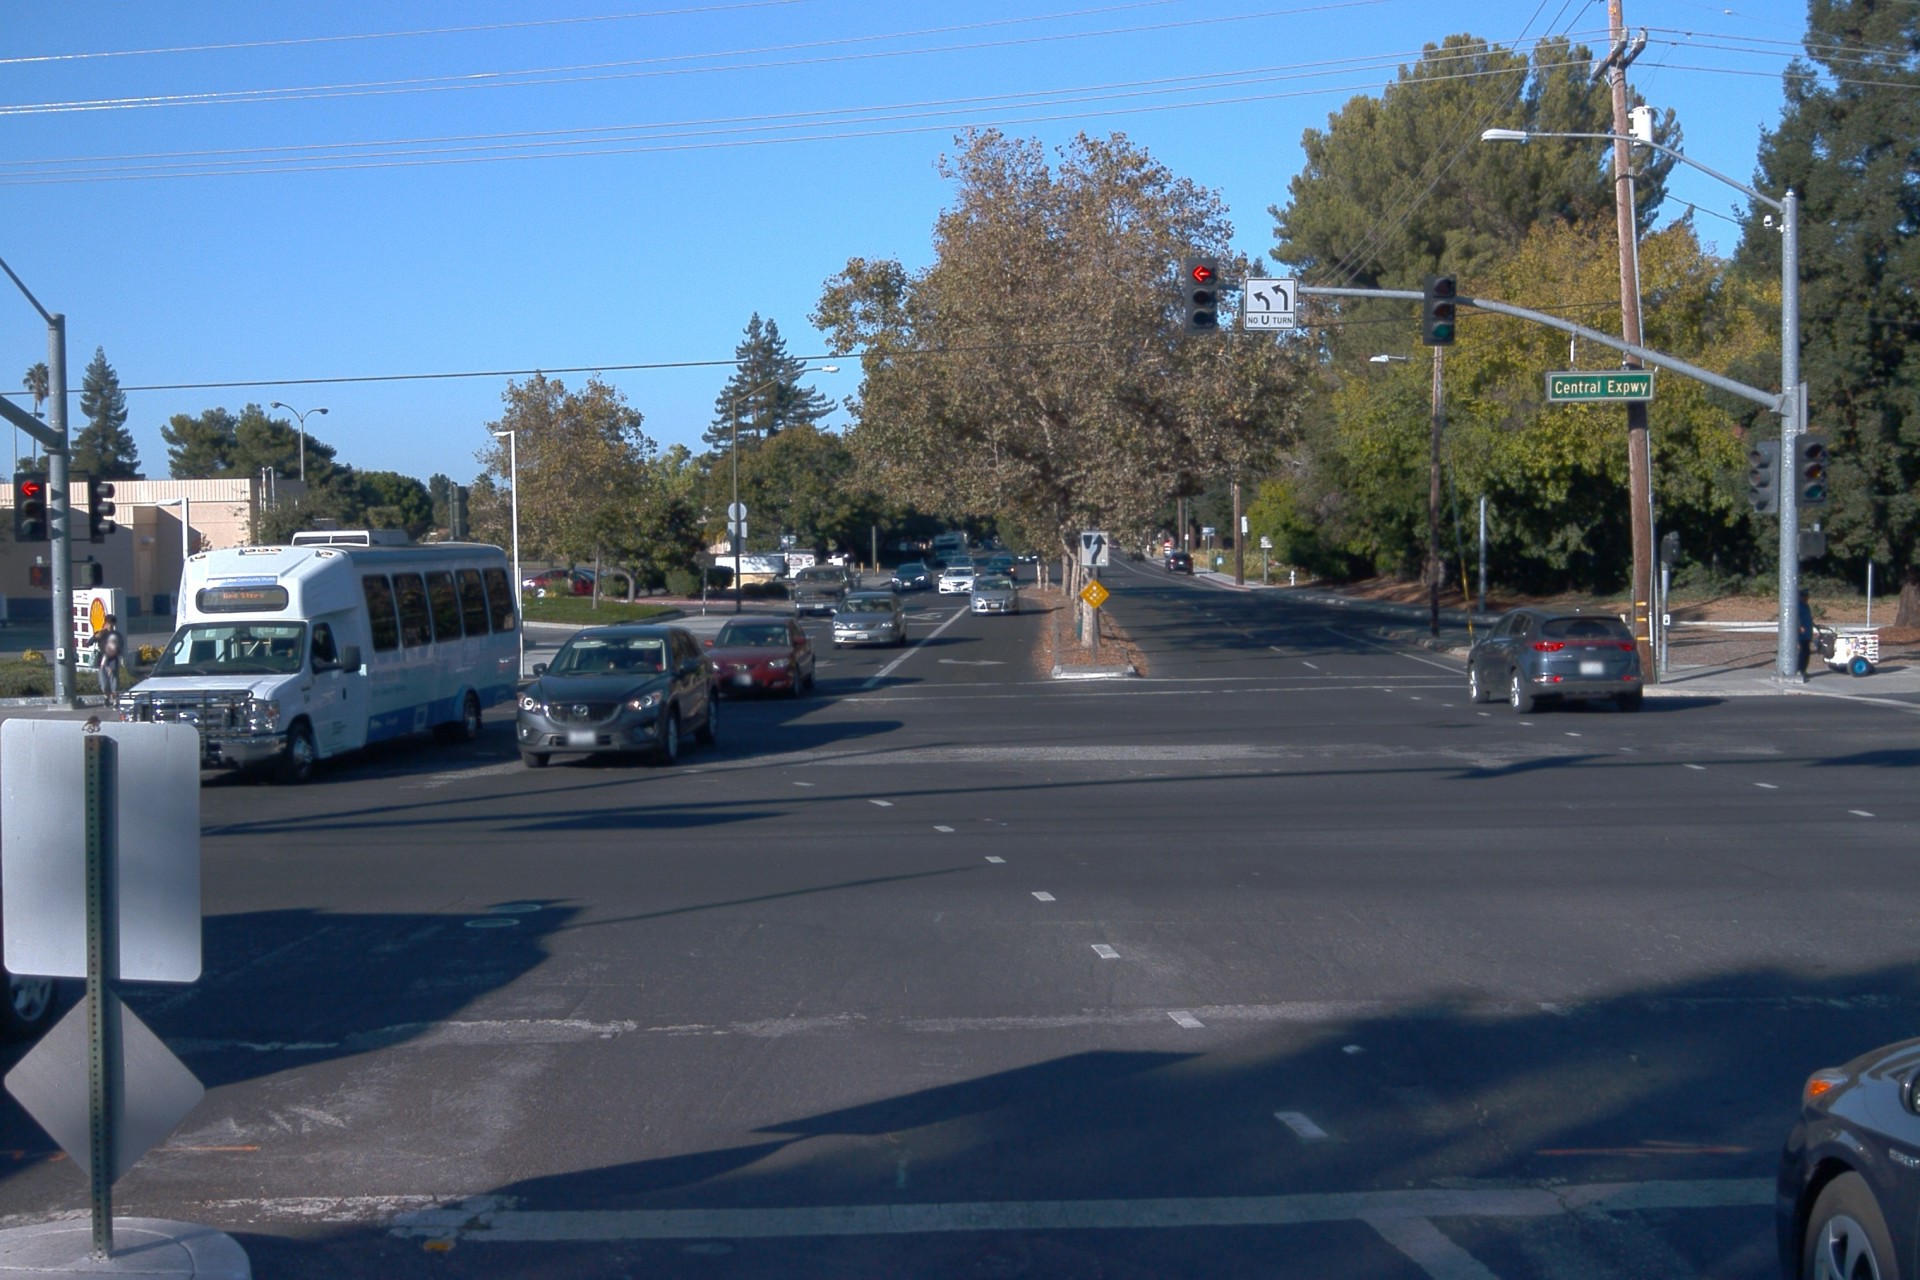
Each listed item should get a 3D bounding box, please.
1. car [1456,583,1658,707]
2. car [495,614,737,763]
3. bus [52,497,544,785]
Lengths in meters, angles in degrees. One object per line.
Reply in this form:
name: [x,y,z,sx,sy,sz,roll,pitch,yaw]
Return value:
car: [9.344,0.076,32.885,2.011,1.820,4.292,-1,0,1]
car: [-4.325,0.579,26.846,2.122,1.760,4.358,-1,0,4]
bus: [-8.378,0.017,27.973,3.003,3.210,9.239,-1,0,5]
